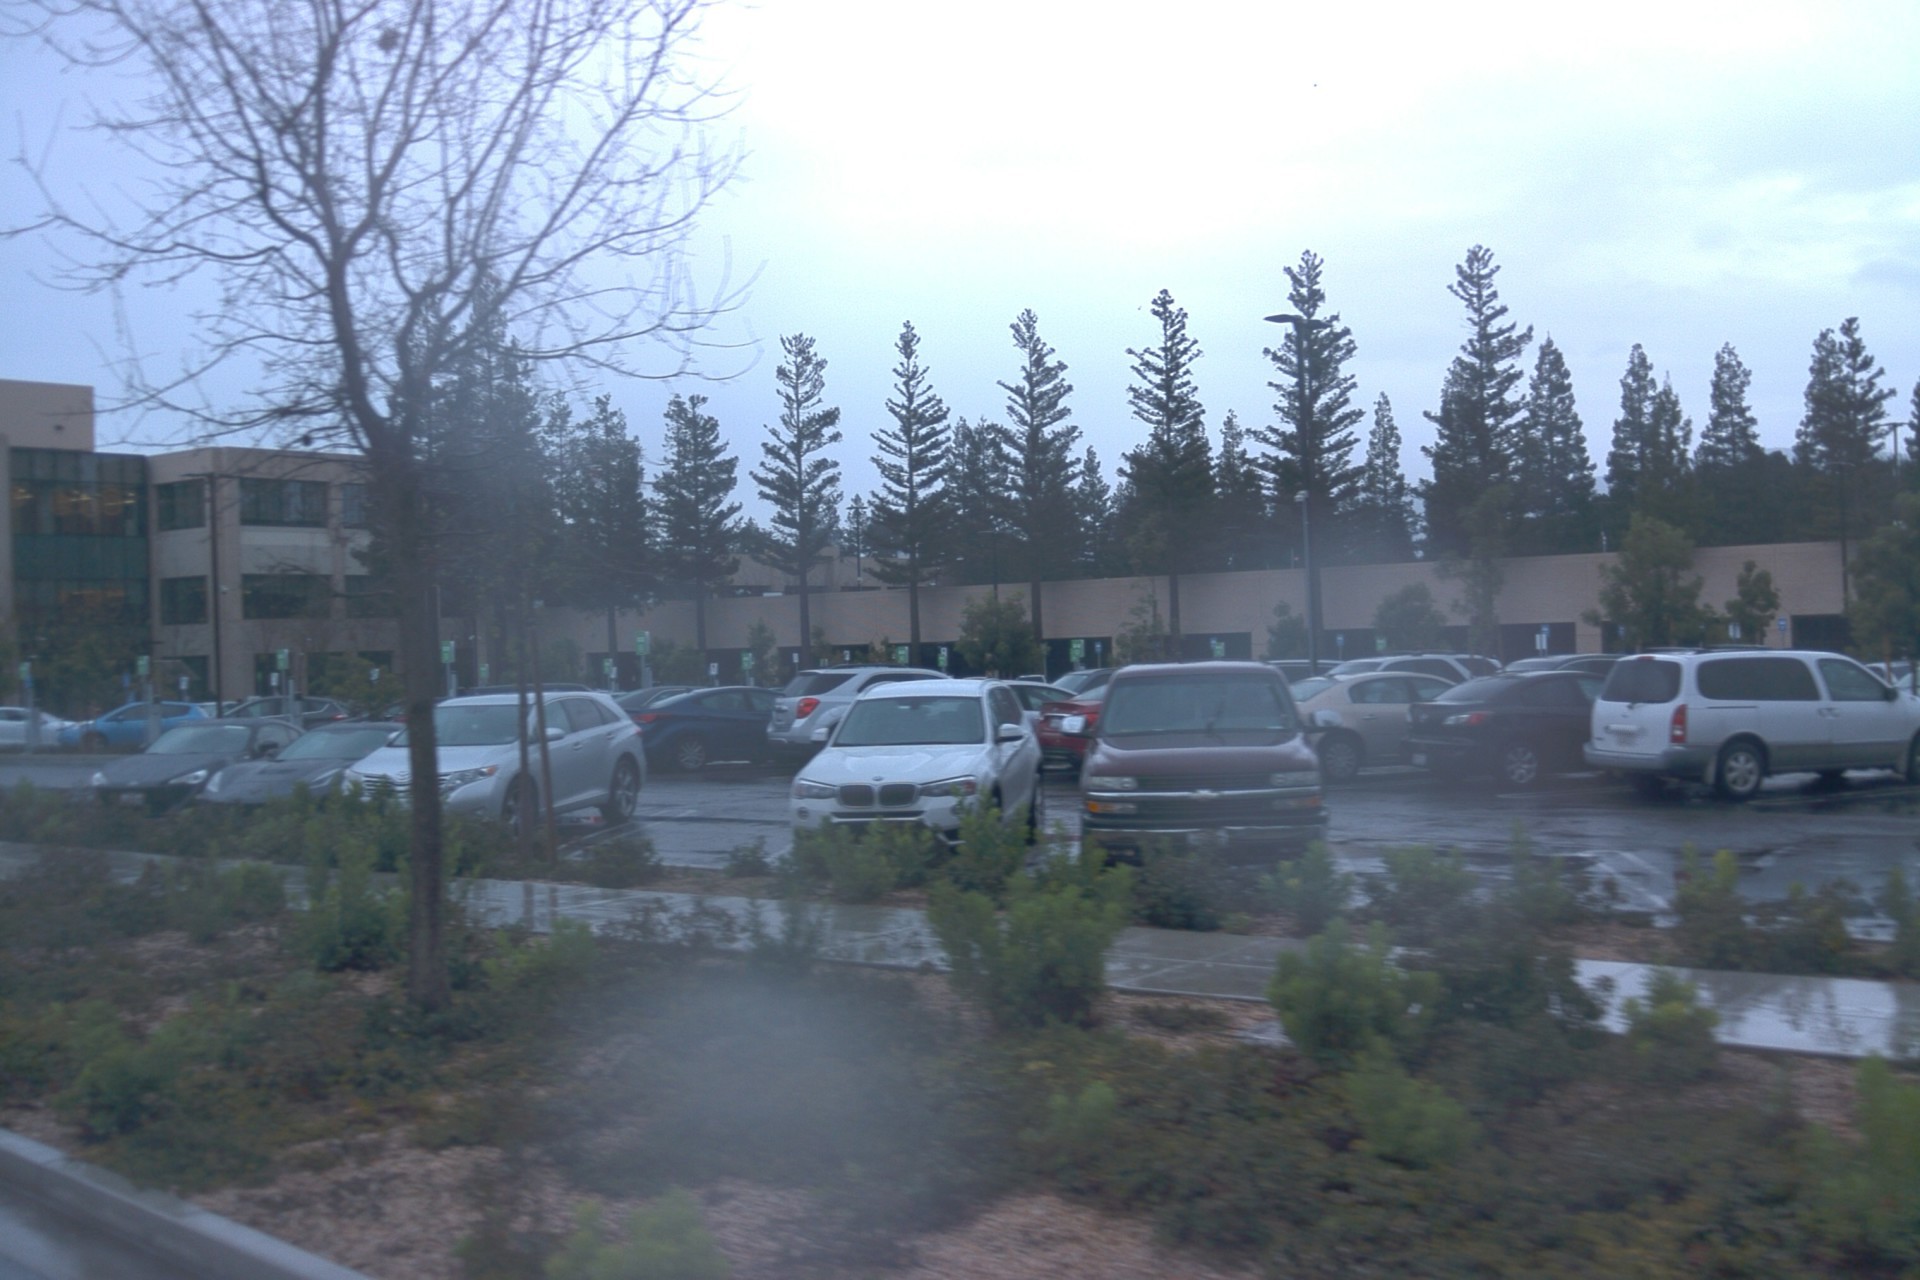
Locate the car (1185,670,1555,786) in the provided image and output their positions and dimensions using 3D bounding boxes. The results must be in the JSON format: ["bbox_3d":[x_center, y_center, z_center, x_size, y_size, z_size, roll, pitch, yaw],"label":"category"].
[{"bbox_3d":[5.688,1.175,28.870,4.607,1.500,2.159,0,-1,-22],"label":"car"}]

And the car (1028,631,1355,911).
[{"bbox_3d":[1.968,1.007,18.381,2.416,2.070,5.811,0,-1,5],"label":"car"}]

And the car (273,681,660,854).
[{"bbox_3d":[-5.428,1.337,23.619,2.247,1.710,4.767,0,-1,16],"label":"car"}]

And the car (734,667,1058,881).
[{"bbox_3d":[-0.458,1.172,20.128,2.174,1.810,4.639,0,-1,11],"label":"car"}]

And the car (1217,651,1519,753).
[{"bbox_3d":[6.843,1.006,34.852,4.536,1.620,2.192,0,-1,-25],"label":"car"}]

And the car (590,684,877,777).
[{"bbox_3d":[-3.875,1.512,35.571,4.494,1.500,1.969,0,-1,-23],"label":"car"}]

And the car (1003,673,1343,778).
[{"bbox_3d":[3.137,1.213,30.520,4.528,1.440,2.108,0,-1,-26],"label":"car"}]

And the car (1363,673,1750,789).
[{"bbox_3d":[7.712,1.134,26.937,4.442,1.410,2.070,0,-1,-20],"label":"car"}]

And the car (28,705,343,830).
[{"bbox_3d":[-10.066,1.613,27.387,2.010,1.430,4.227,0,-1,11],"label":"car"}]

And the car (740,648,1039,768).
[{"bbox_3d":[-1.177,1.083,34.174,4.497,1.870,2.011,0,-1,-20],"label":"car"}]

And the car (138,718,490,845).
[{"bbox_3d":[-7.822,1.678,25.694,2.185,1.300,4.498,0,-1,13],"label":"car"}]
